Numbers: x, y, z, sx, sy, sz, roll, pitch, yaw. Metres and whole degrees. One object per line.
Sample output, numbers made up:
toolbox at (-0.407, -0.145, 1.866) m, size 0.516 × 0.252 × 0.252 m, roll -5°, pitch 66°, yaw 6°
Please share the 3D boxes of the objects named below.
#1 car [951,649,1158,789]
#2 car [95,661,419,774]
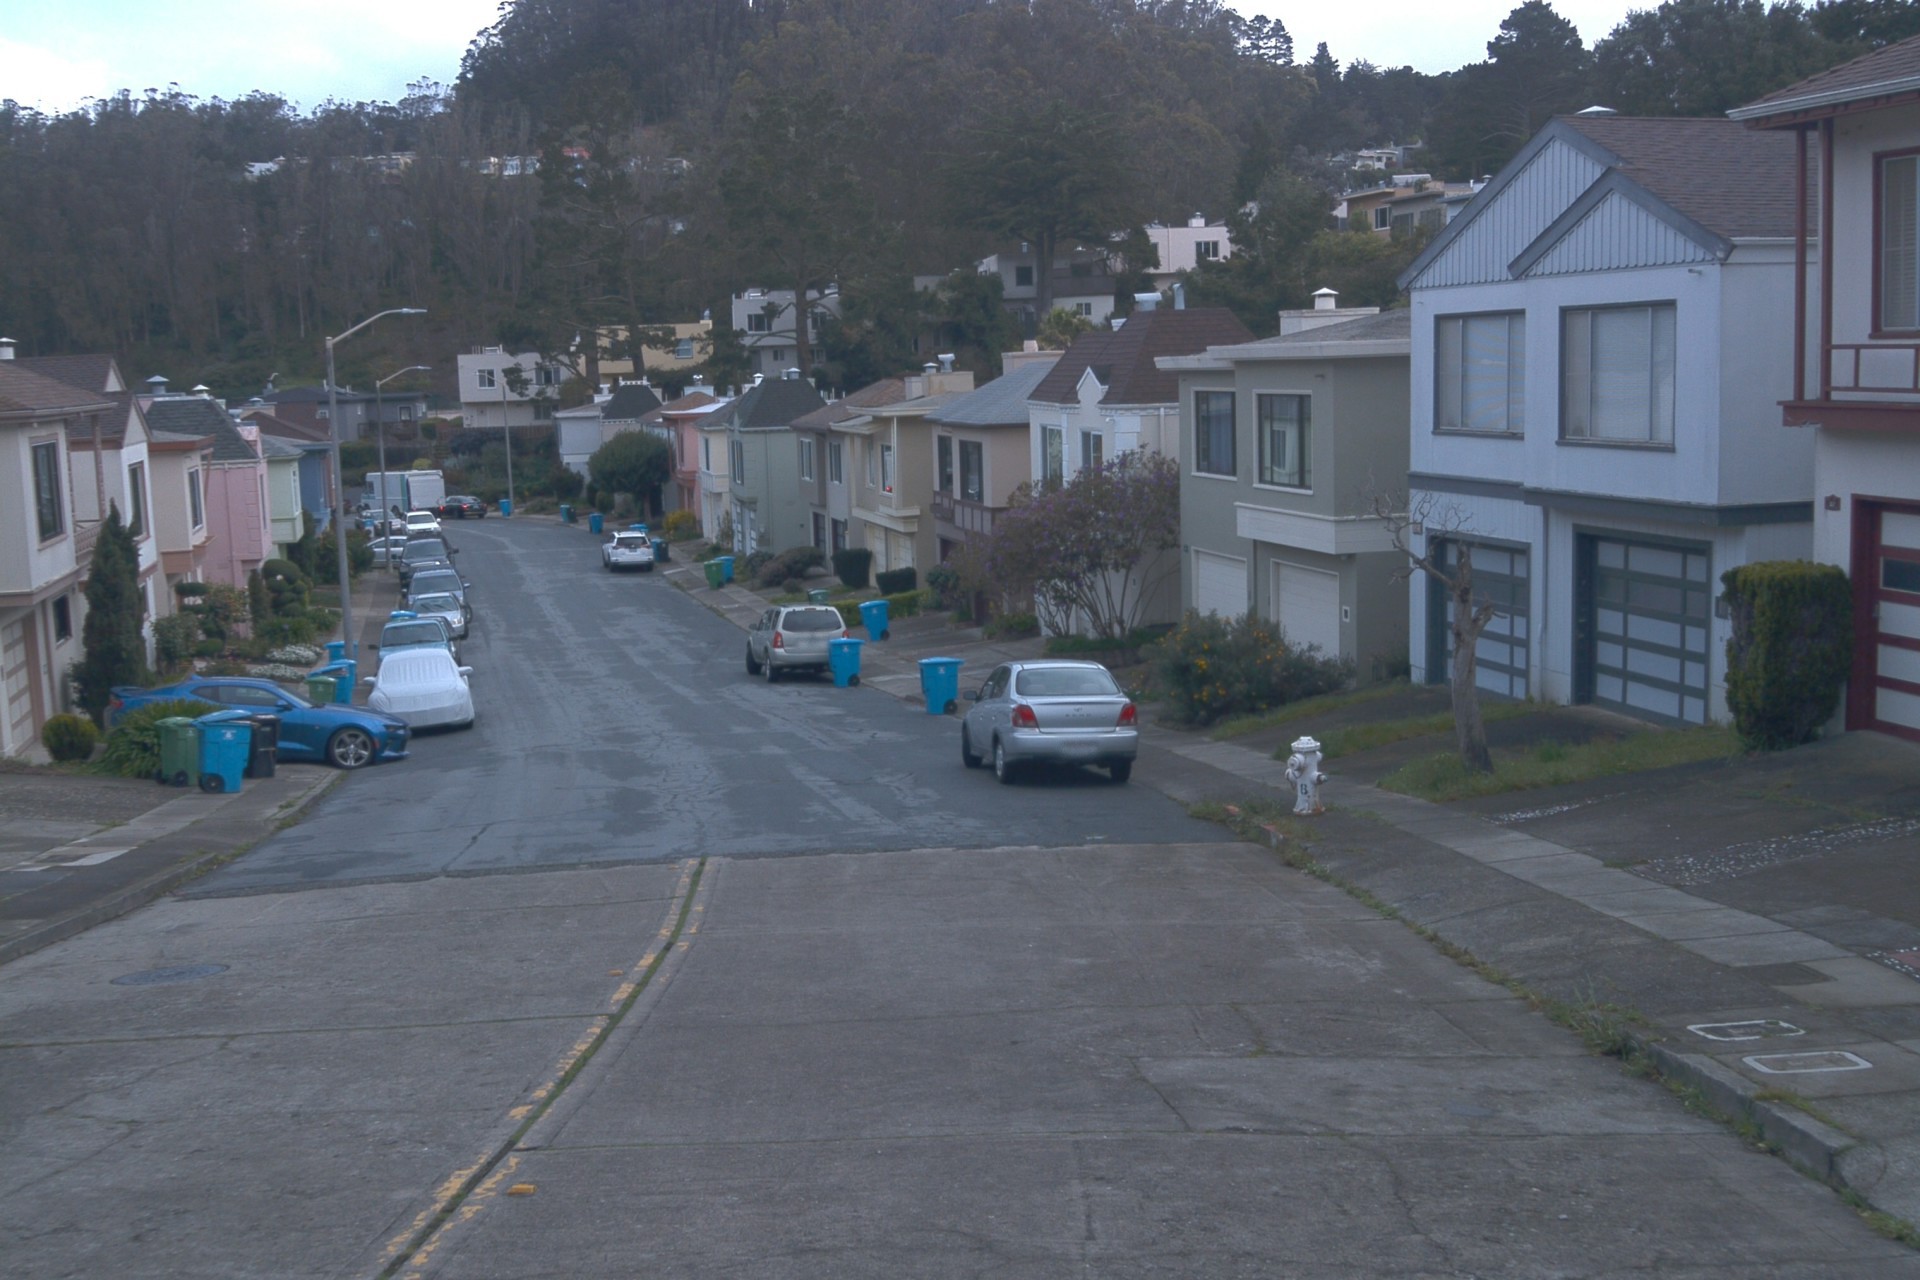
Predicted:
car at (1.104, 0.933, 26.383) m, size 1.851 × 1.630 × 4.219 m, roll 0°, pitch 0°, yaw -8°
car at (-11.200, 1.205, 33.353) m, size 4.690 × 1.720 × 2.229 m, roll 0°, pitch 0°, yaw -11°
